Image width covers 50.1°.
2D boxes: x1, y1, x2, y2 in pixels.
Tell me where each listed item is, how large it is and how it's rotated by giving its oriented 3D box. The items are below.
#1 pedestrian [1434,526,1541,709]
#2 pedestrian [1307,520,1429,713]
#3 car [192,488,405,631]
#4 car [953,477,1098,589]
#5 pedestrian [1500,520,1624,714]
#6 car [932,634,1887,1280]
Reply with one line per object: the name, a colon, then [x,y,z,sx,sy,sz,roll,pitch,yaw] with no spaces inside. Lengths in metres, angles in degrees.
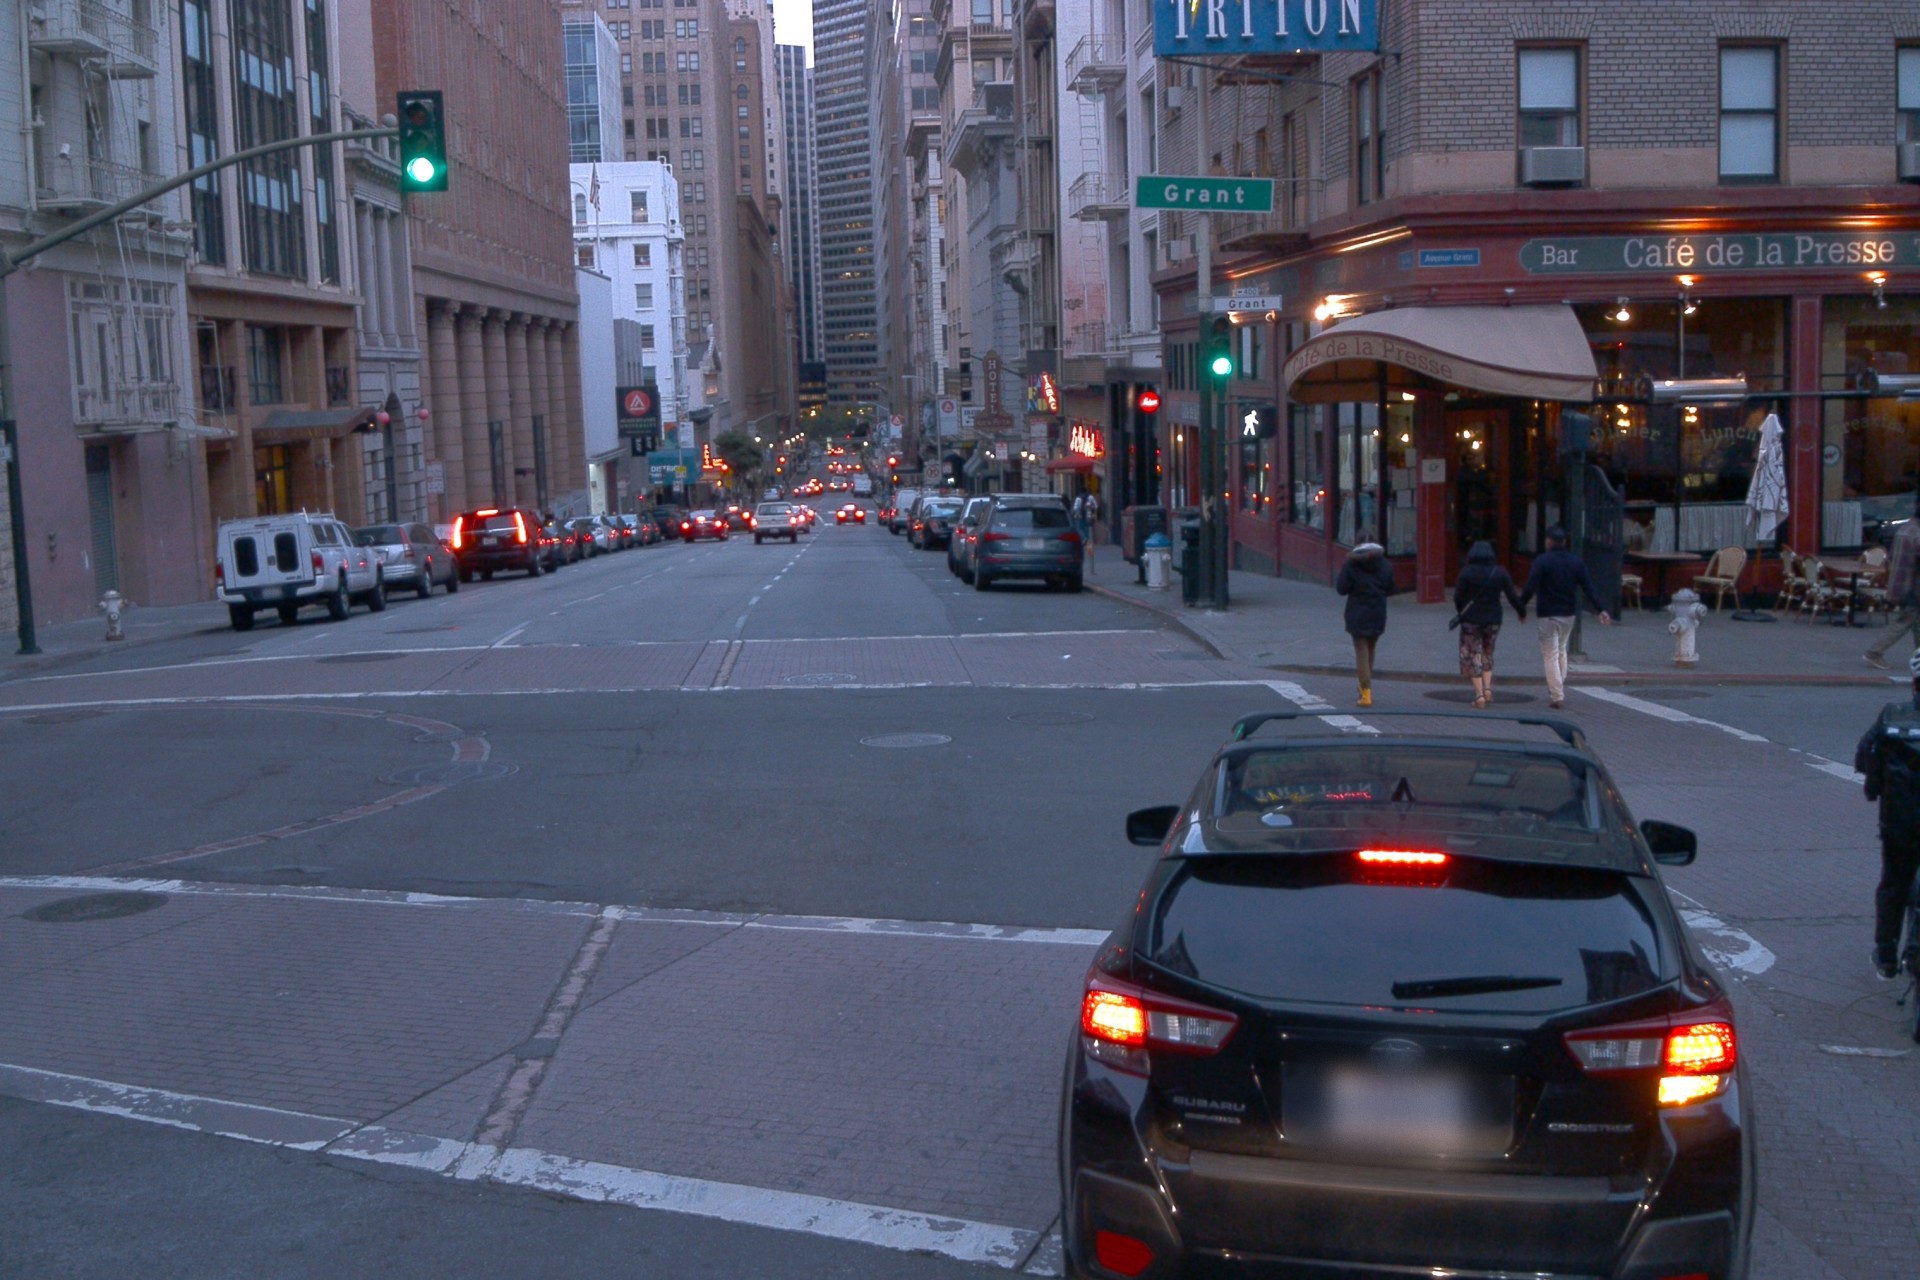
pedestrian: [4.892,-0.206,19.113,0.767,1.656,0.957,0,1,2]
pedestrian: [3.810,-0.219,19.280,0.905,1.756,1.063,0,1,-1]
car: [-11.351,-1.332,35.721,2.286,2.294,5.437,0,1,-4]
car: [1.114,-1.881,37.422,2.214,1.850,4.837,0,1,-3]
pedestrian: [5.621,-0.215,19.237,0.840,1.766,0.955,0,1,-3]
car: [1.445,0.966,6.872,2.138,1.920,4.405,0,1,12]
